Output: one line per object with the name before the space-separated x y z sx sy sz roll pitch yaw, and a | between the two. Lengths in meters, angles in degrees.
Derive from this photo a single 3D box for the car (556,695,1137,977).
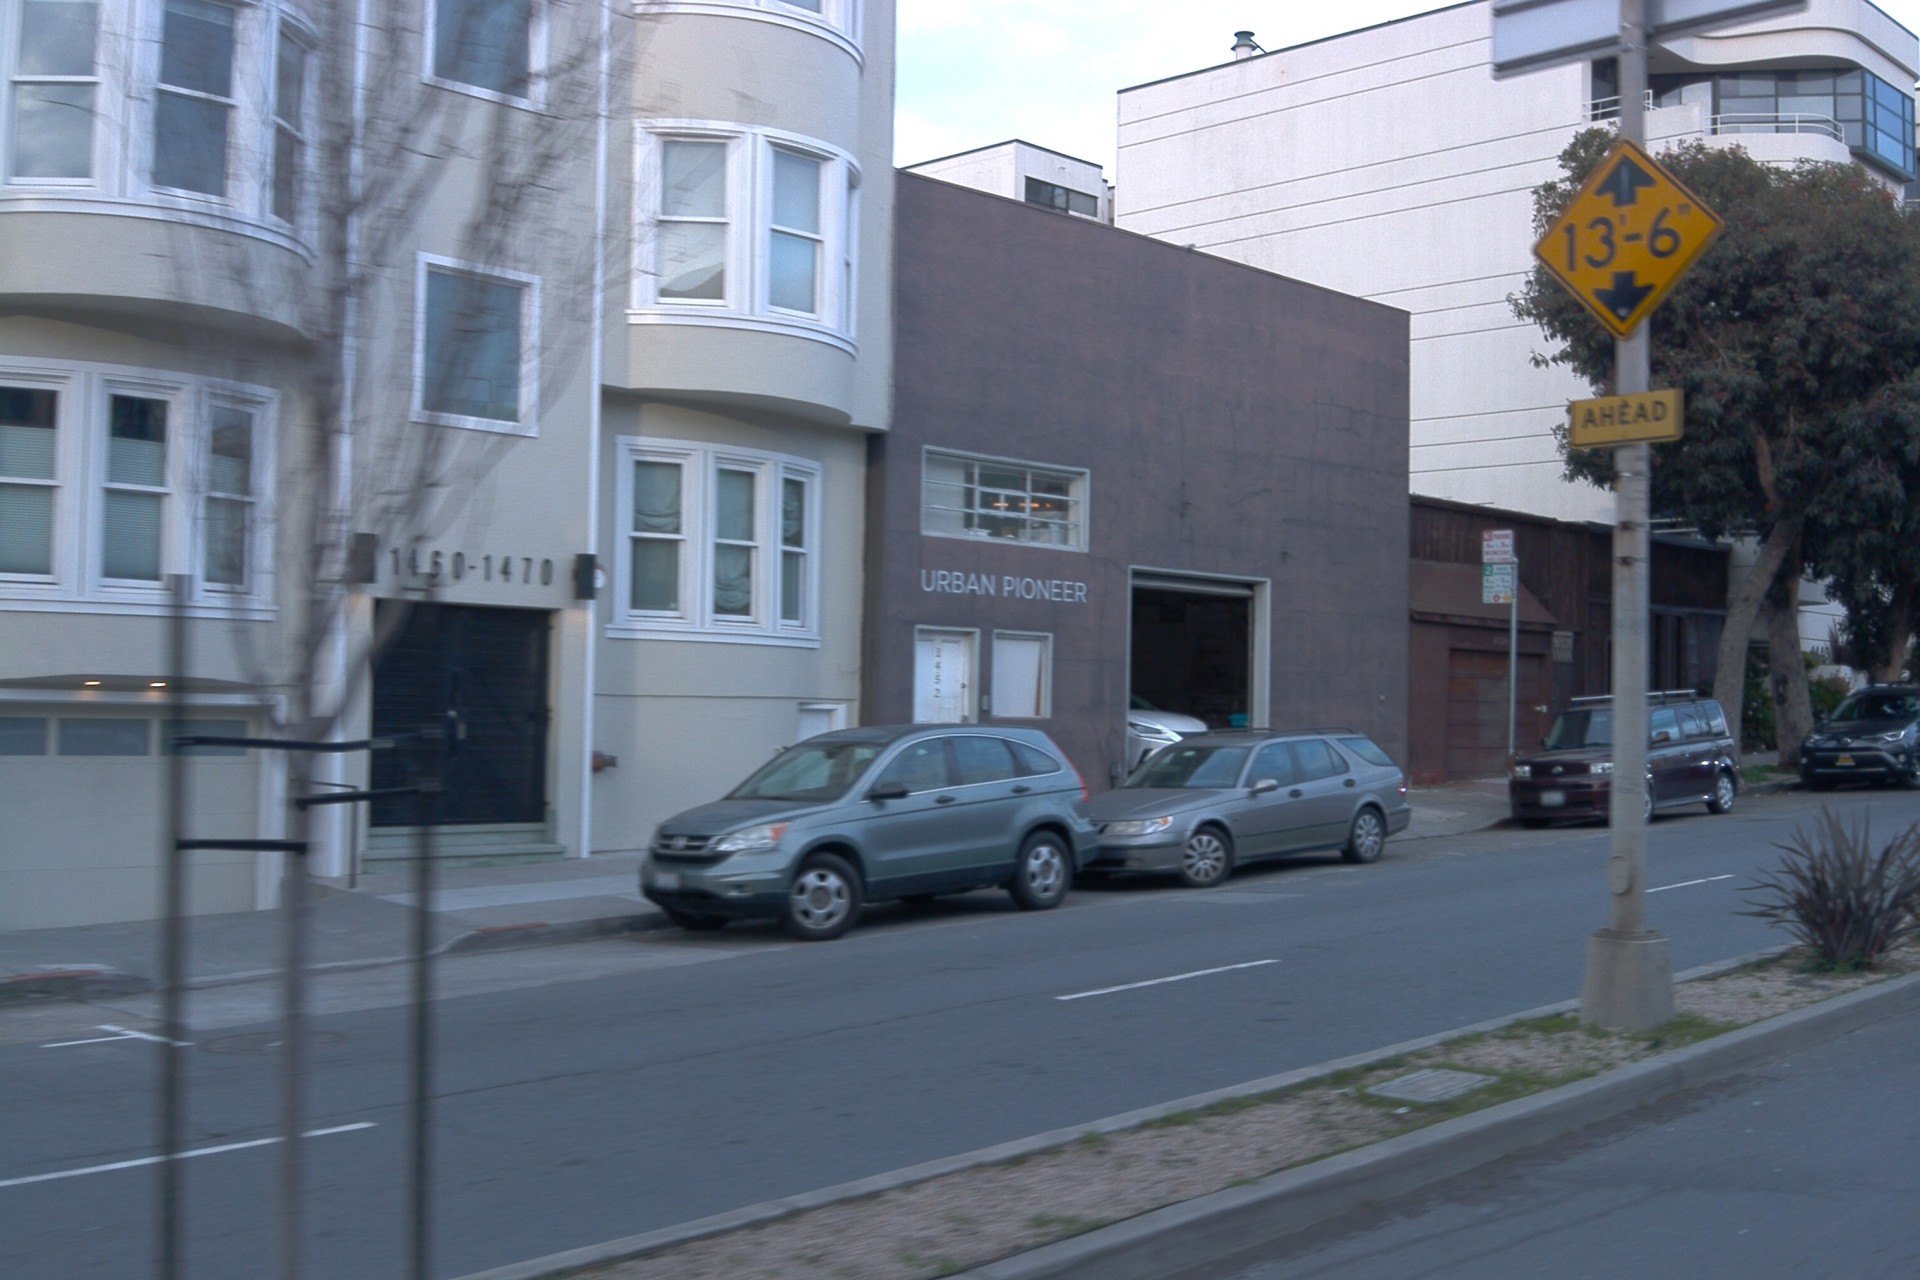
car | -0.840 1.508 17.599 2.123 1.910 4.697 2 1 45

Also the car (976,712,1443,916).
car | 2.686 1.669 21.317 2.176 1.640 4.988 2 1 44

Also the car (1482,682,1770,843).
car | 8.938 1.555 27.600 4.081 1.860 1.930 0 1 -44

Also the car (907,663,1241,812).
car | 1.565 1.320 29.841 2.165 1.830 4.584 0 1 -42
